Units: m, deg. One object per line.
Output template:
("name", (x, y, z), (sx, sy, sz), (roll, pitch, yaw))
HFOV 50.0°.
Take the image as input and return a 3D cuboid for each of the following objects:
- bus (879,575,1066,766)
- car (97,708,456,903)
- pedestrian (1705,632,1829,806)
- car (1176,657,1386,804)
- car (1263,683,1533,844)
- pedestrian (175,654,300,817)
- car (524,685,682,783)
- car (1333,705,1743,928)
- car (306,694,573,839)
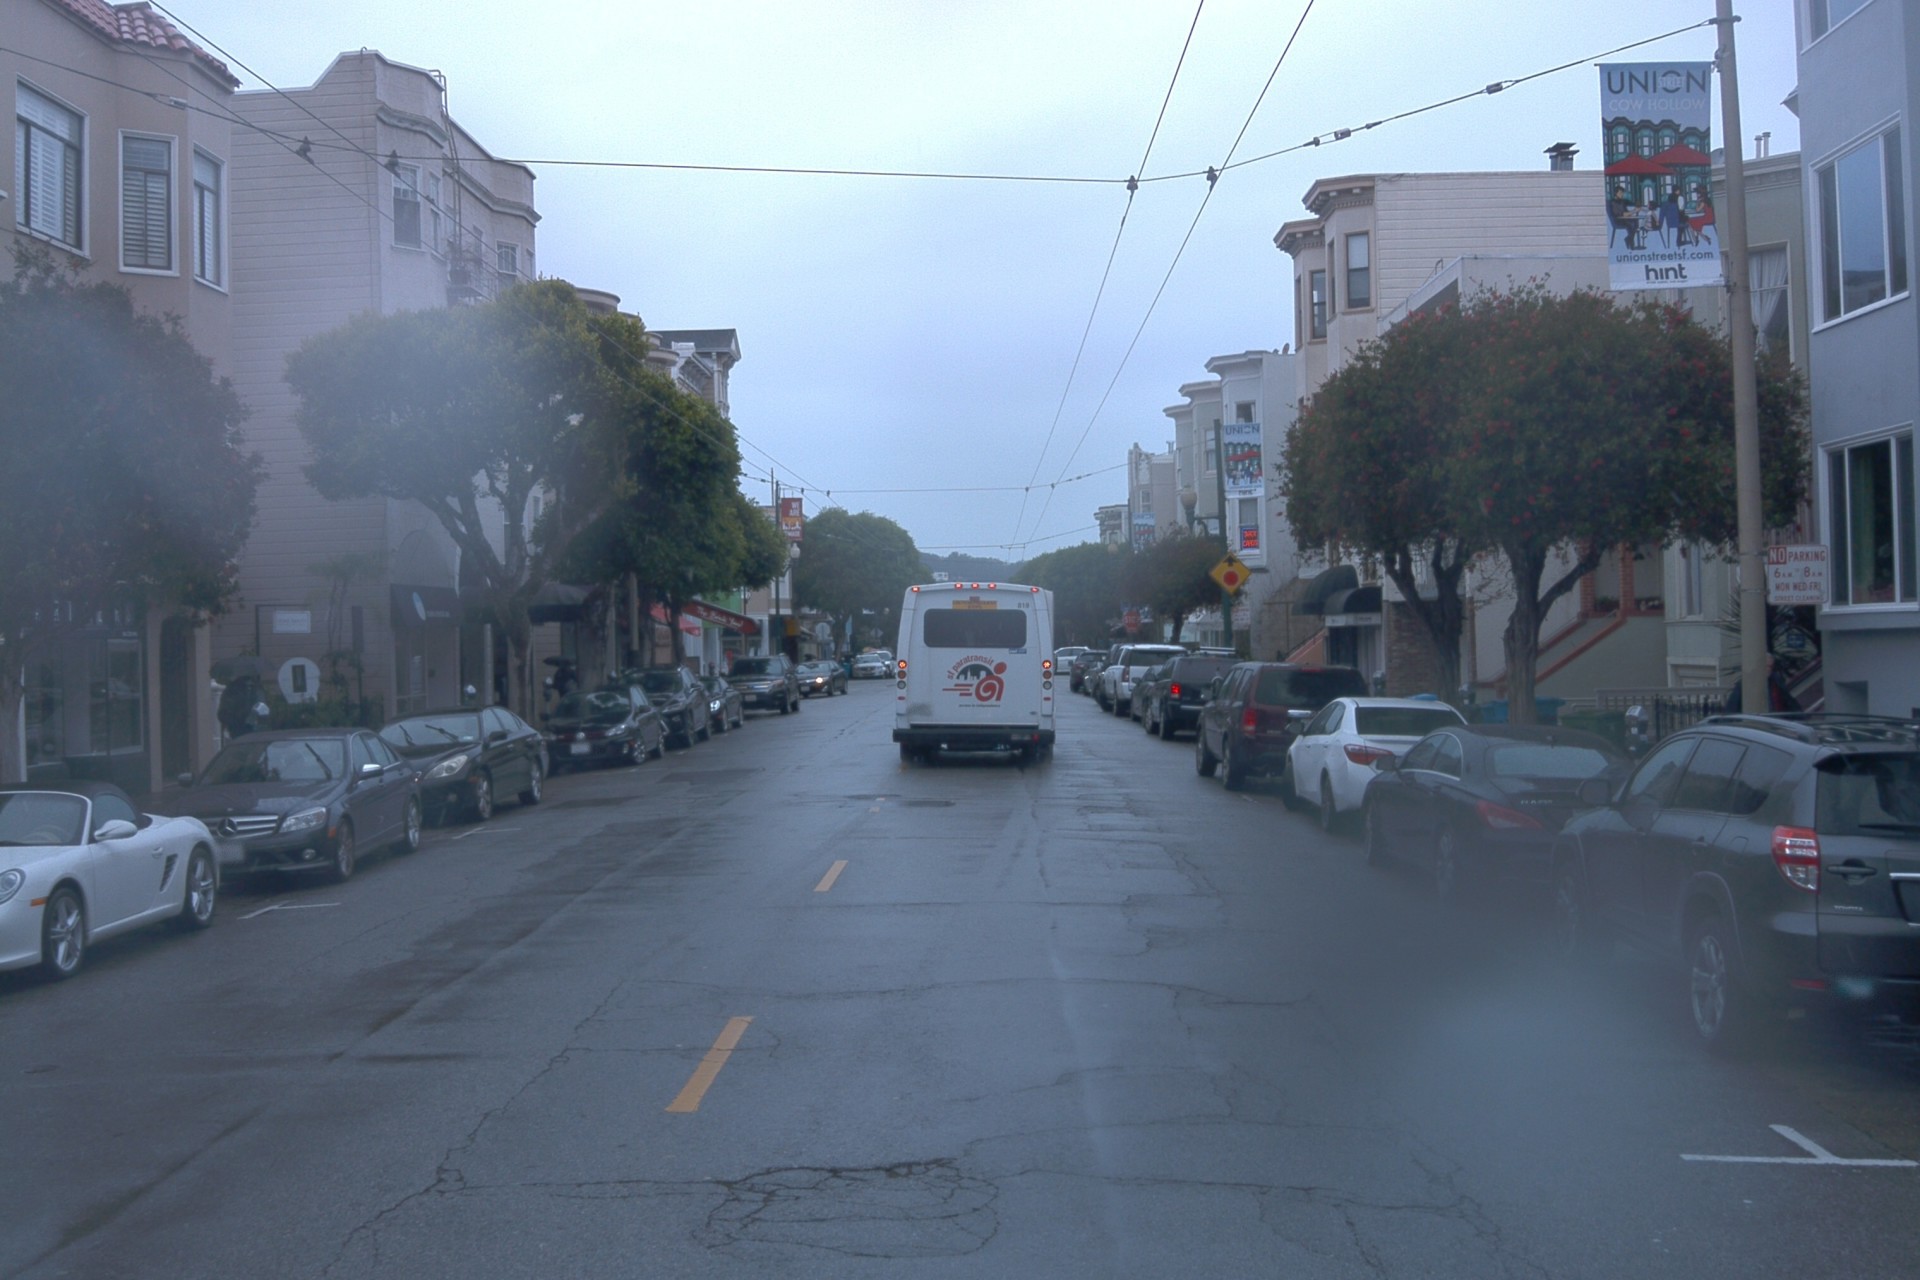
("bus", (0.339, 0.420, 34.477), (2.788, 2.850, 6.704), (1, 1, 3))
("car", (-6.591, 1.534, 20.522), (2.149, 1.490, 4.930), (1, 1, -3))
("pedestrian", (8.859, 0.850, 22.657), (0.915, 1.850, 1.073), (1, 0, 0))
("car", (4.439, 1.194, 29.328), (2.167, 1.800, 5.090), (1, 1, 0))
("car", (4.843, 1.318, 23.543), (2.086, 1.470, 4.894), (1, 1, 1))
("pedestrian", (-9.850, 1.273, 28.152), (1.171, 2.120, 1.517), (1, 1, 0))
("car", (-6.438, 1.666, 37.661), (2.132, 1.510, 4.372), (1, 1, 0))
("car", (4.709, 1.387, 17.614), (2.068, 1.440, 4.640), (1, 1, -2))
("car", (-6.616, 1.560, 26.851), (2.034, 1.490, 5.134), (1, 1, 2))
